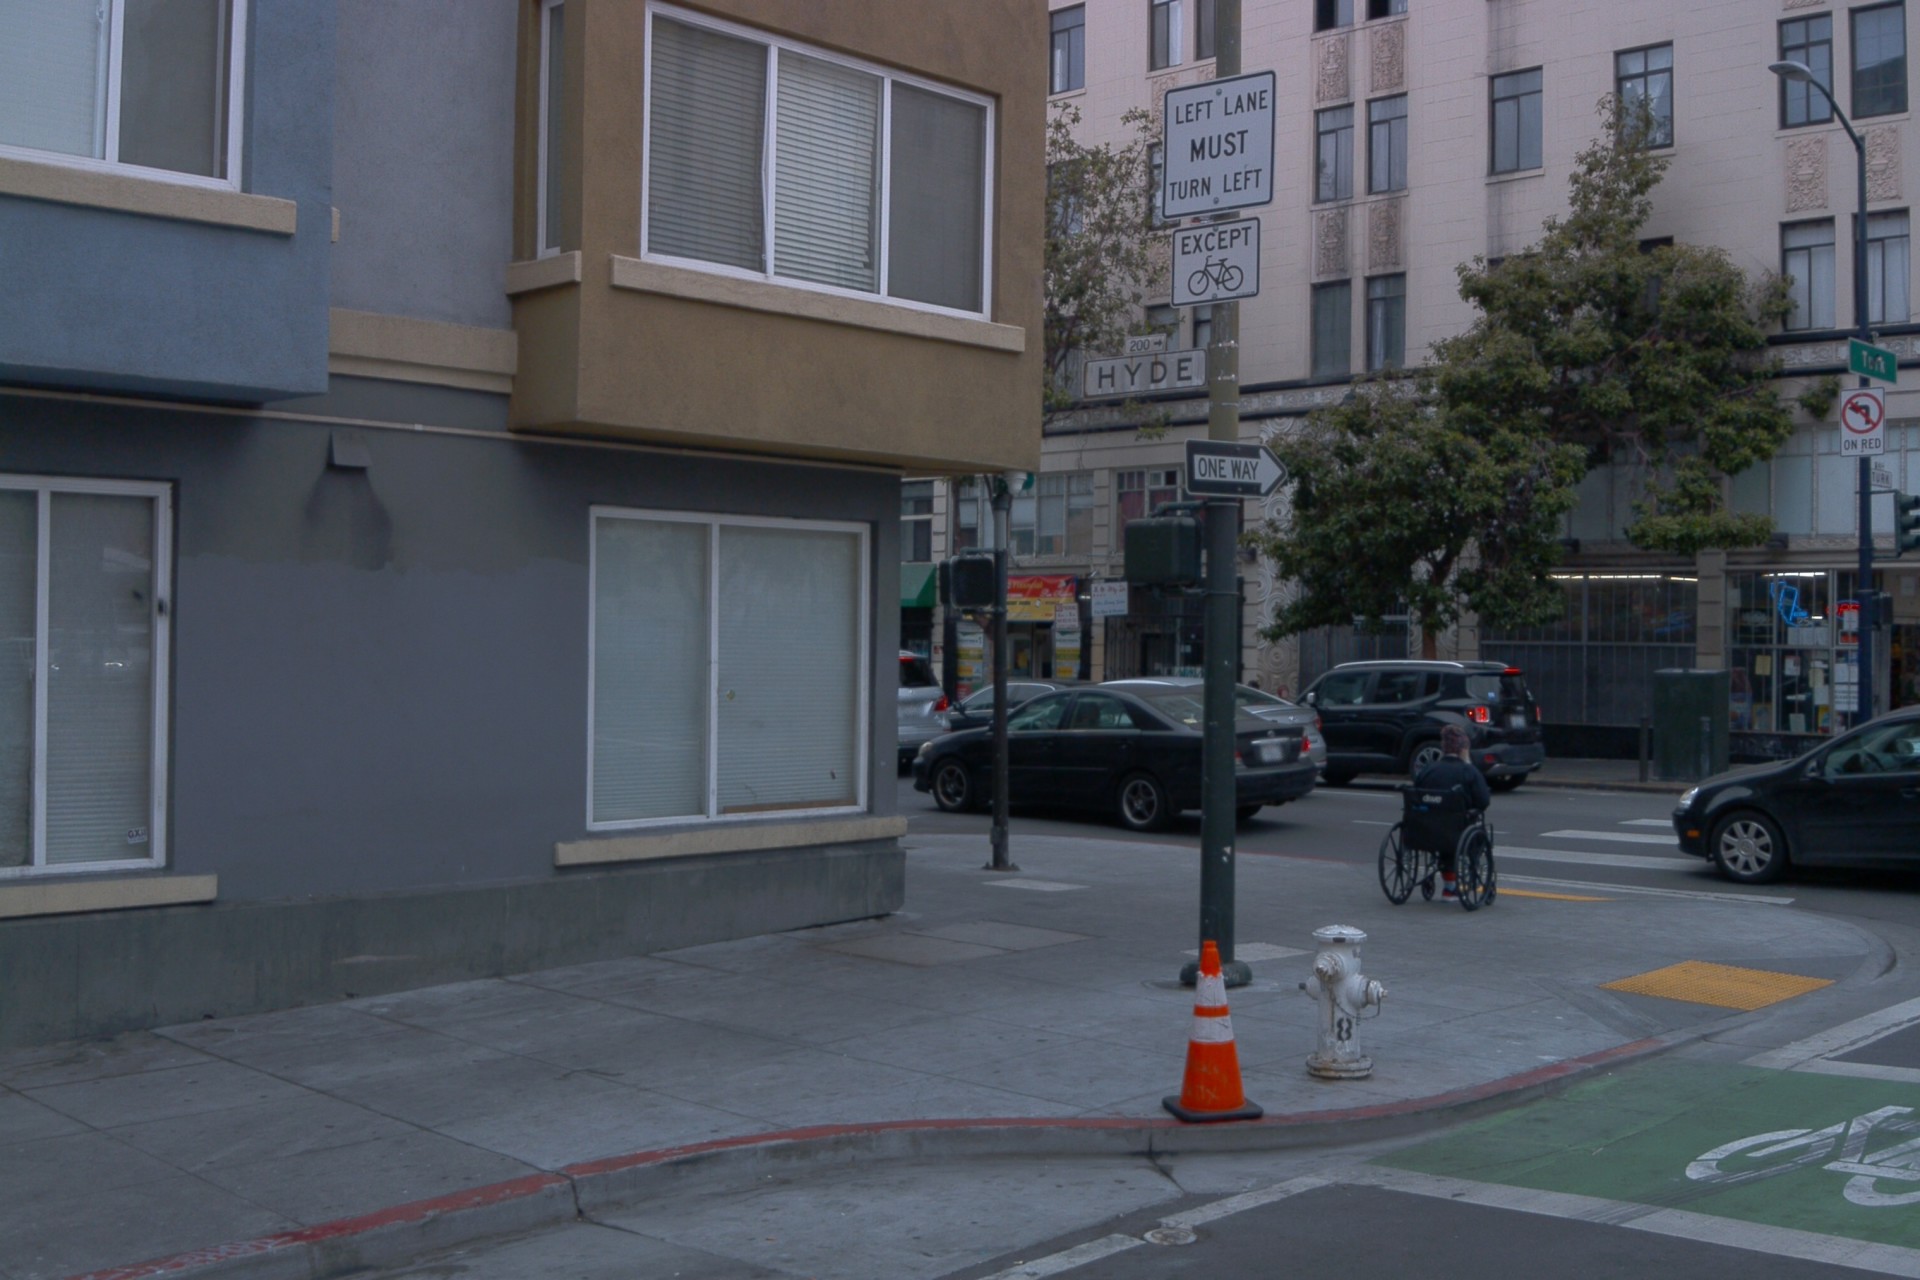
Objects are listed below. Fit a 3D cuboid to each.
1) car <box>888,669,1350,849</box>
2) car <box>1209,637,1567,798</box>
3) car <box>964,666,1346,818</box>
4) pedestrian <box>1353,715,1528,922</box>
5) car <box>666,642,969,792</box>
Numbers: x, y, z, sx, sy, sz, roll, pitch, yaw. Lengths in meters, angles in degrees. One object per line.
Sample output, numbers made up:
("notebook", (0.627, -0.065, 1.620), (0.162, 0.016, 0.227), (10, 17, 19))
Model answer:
("car", (1.625, 1.189, 22.448), (4.803, 1.600, 2.070), (1, 1, 45))
("car", (5.533, 0.925, 27.052), (1.925, 1.870, 4.231), (-1, 1, -45))
("car", (2.358, 1.196, 25.892), (1.939, 1.600, 4.599), (-1, 1, -44))
("pedestrian", (3.503, 1.264, 15.016), (0.883, 1.370, 1.026), (1, 1, 38))
("car", (-2.180, 1.057, 30.626), (2.026, 1.970, 4.585), (-1, 1, -43))
